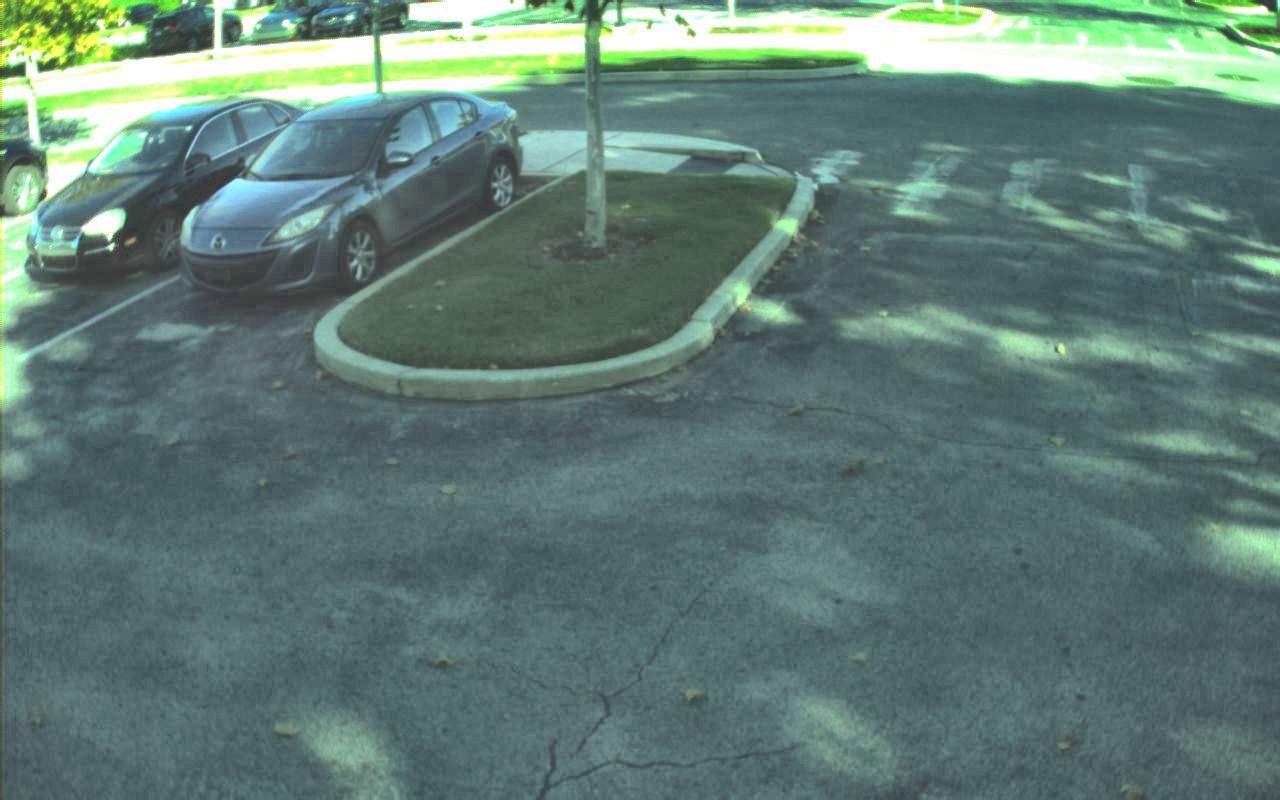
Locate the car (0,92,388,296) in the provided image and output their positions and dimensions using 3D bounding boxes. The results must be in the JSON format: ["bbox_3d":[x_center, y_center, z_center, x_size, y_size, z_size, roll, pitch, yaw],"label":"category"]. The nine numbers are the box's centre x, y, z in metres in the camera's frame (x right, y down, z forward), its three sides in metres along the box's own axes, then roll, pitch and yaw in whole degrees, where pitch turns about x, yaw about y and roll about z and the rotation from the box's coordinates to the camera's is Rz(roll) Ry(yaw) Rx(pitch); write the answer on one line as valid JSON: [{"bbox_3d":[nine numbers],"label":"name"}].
[{"bbox_3d":[-4.908,-2.419,13.178,1.938,1.552,4.546,7,18,24],"label":"car"}]

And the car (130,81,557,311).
[{"bbox_3d":[-2.667,-2.138,11.779,1.907,1.537,4.479,6,18,22],"label":"car"}]
